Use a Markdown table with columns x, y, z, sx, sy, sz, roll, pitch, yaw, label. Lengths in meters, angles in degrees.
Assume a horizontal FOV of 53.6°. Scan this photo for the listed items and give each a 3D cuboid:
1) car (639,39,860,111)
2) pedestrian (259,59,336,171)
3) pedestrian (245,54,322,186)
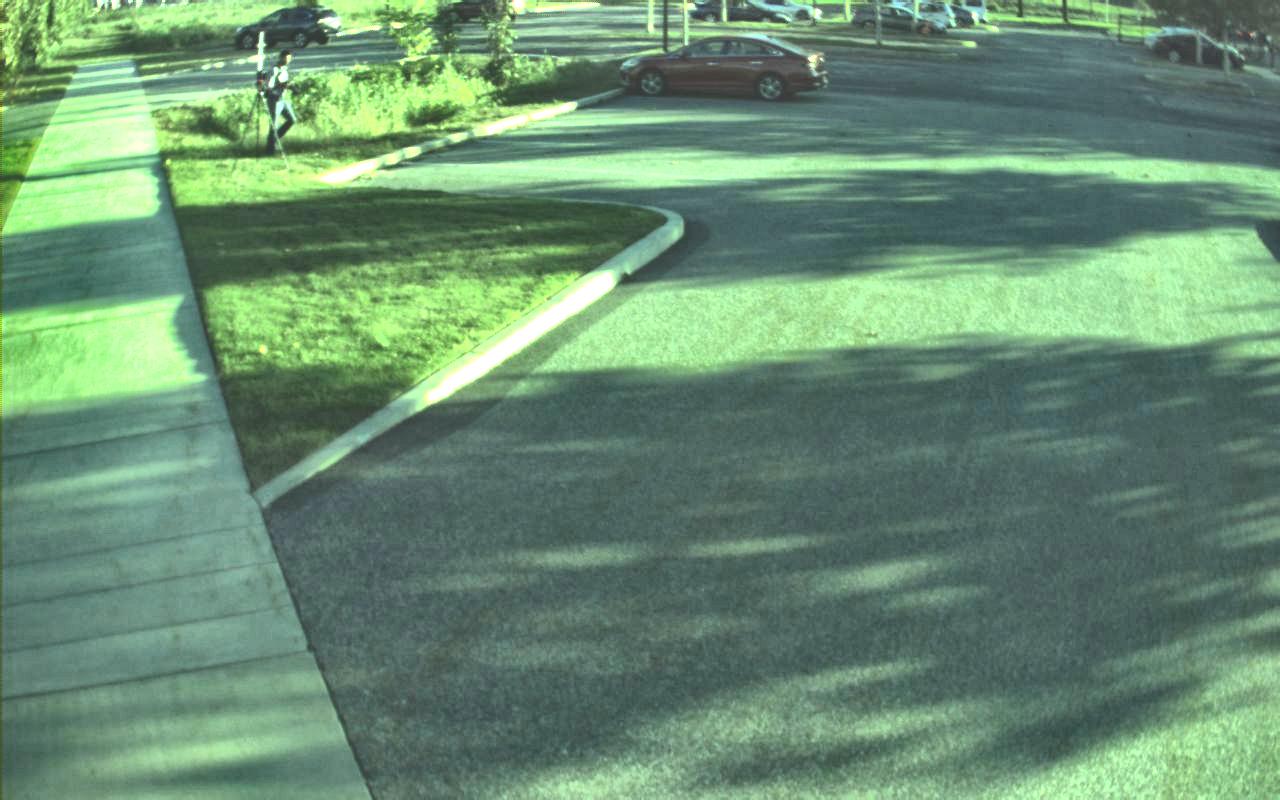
| x | y | z | sx | sy | sz | roll | pitch | yaw | label |
| --- | --- | --- | --- | --- | --- | --- | --- | --- | --- |
| 2.563 | -7.515 | 28.400 | 4.742 | 1.589 | 2.005 | 4 | 16 | 19 | car |
| -5.349 | -4.413 | 18.684 | 0.865 | 1.687 | 0.803 | 6 | 16 | 25 | pedestrian |
| -5.118 | -4.005 | 17.179 | 0.853 | 1.823 | 0.826 | 0 | 14 | 4 | pedestrian |
